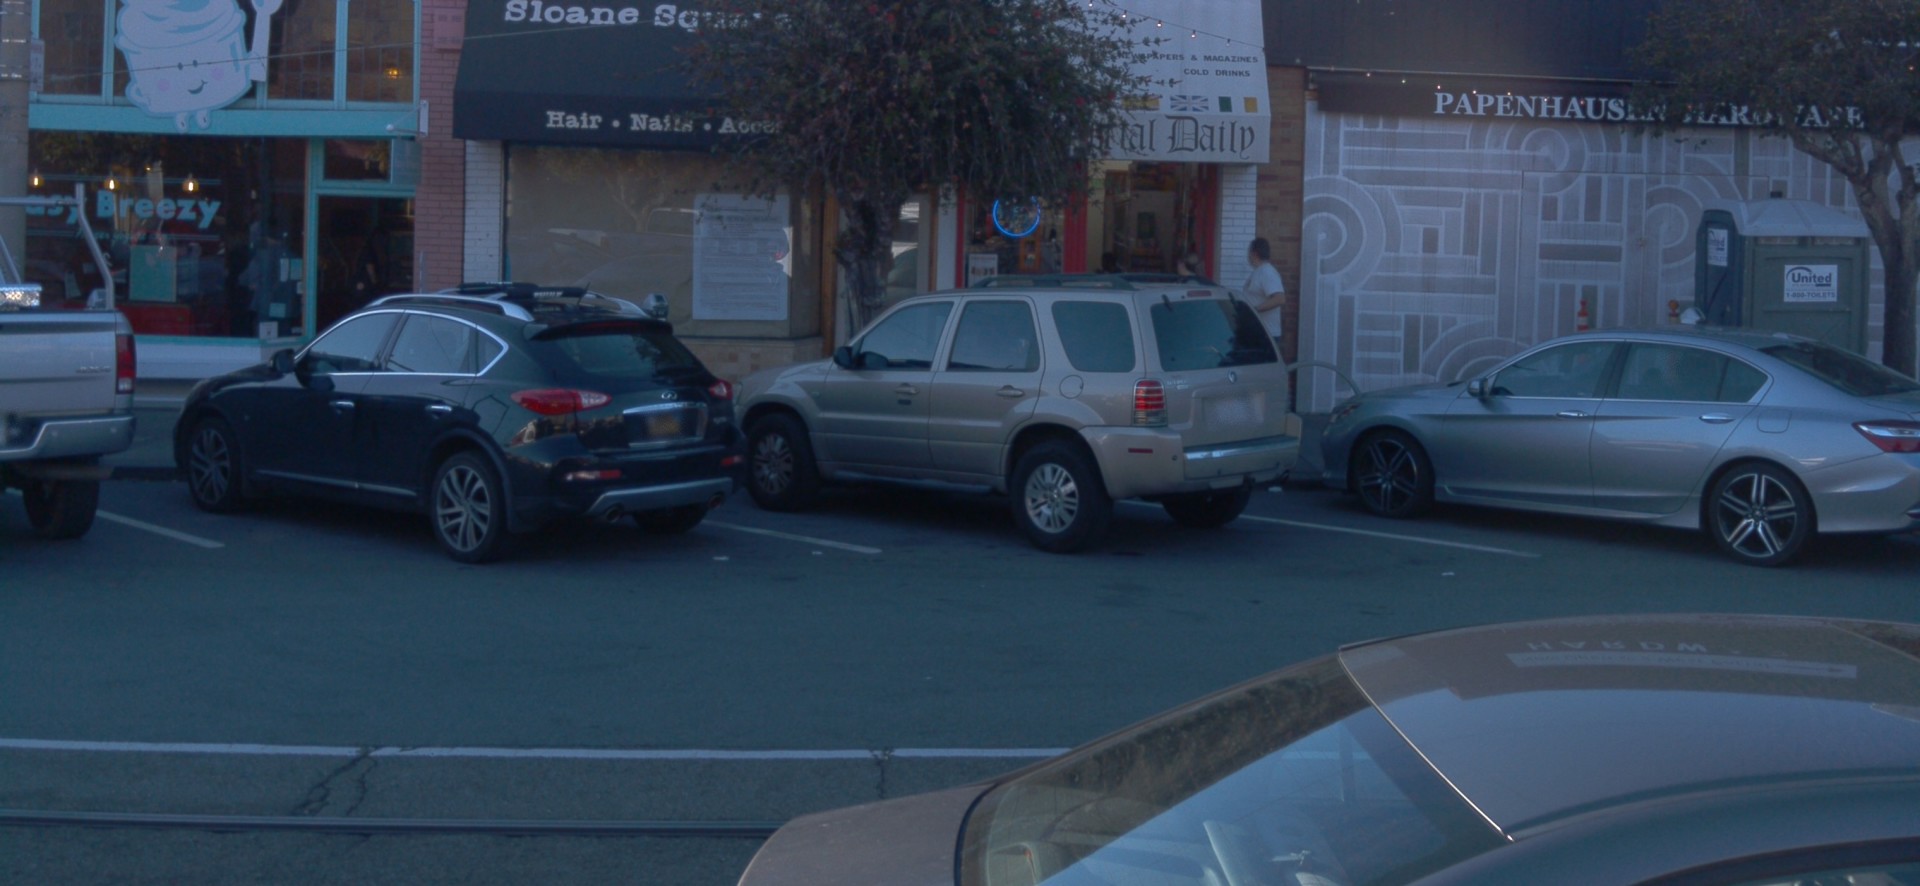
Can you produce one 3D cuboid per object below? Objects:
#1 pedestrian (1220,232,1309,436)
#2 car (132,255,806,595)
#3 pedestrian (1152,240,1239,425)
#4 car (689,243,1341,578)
[{"bbox_3d":[2.809,-1.035,19.229,0.730,1.816,0.924,1,2,4],"label":"pedestrian"},{"bbox_3d":[-3.425,-0.305,14.053,4.523,1.793,2.116,6,6,39],"label":"car"},{"bbox_3d":[2.230,-1.067,19.751,0.714,1.707,0.692,1,2,-2],"label":"pedestrian"},{"bbox_3d":[0.279,-0.402,14.595,4.242,1.893,2.078,6,6,42],"label":"car"}]
